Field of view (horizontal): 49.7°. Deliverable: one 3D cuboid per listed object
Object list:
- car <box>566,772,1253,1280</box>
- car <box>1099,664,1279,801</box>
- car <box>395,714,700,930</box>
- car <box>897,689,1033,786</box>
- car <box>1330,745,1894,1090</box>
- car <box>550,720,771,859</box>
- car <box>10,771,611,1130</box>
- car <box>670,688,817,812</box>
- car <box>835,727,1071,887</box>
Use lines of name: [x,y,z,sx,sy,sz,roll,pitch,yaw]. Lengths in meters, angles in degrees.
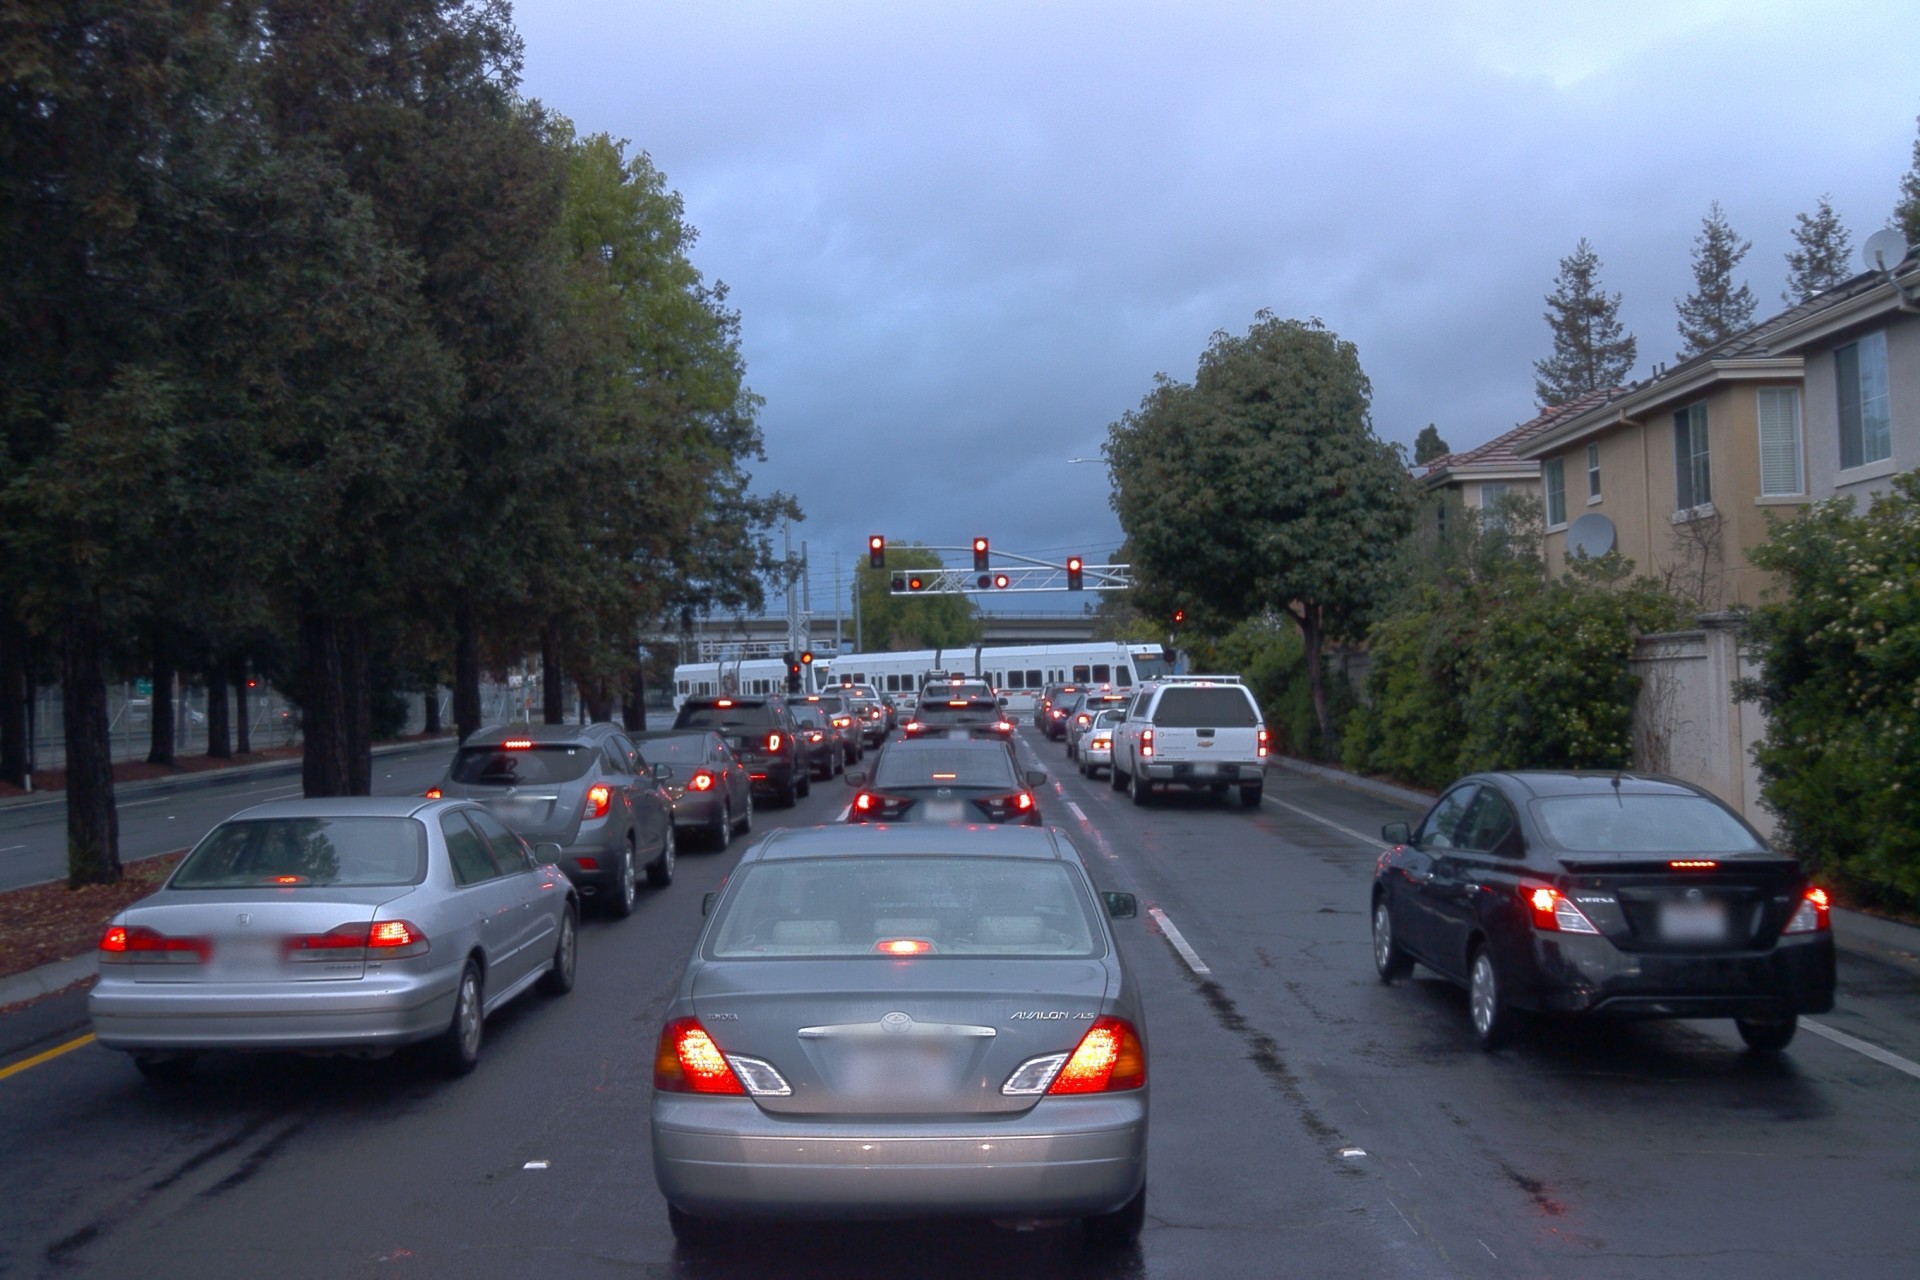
car: [-0.185,1.440,8.706,2.105,1.550,4.676,0,-1,-1]
car: [3.623,1.433,34.012,2.216,2.050,5.937,0,-1,-1]
car: [-3.666,1.572,19.170,1.936,1.700,4.080,0,-1,1]
car: [0.041,1.662,36.552,2.231,1.560,4.585,0,-1,-1]
car: [3.638,1.490,12.550,2.004,1.550,4.501,0,-1,0]
car: [-3.598,1.780,25.772,2.021,1.460,4.541,0,-1,1]
car: [-3.471,1.617,12.127,2.021,1.480,4.541,0,-1,1]
car: [-3.395,1.697,33.282,2.021,1.810,4.543,0,-1,-2]
car: [-0.119,1.565,20.585,2.081,1.290,4.552,0,-1,-1]
